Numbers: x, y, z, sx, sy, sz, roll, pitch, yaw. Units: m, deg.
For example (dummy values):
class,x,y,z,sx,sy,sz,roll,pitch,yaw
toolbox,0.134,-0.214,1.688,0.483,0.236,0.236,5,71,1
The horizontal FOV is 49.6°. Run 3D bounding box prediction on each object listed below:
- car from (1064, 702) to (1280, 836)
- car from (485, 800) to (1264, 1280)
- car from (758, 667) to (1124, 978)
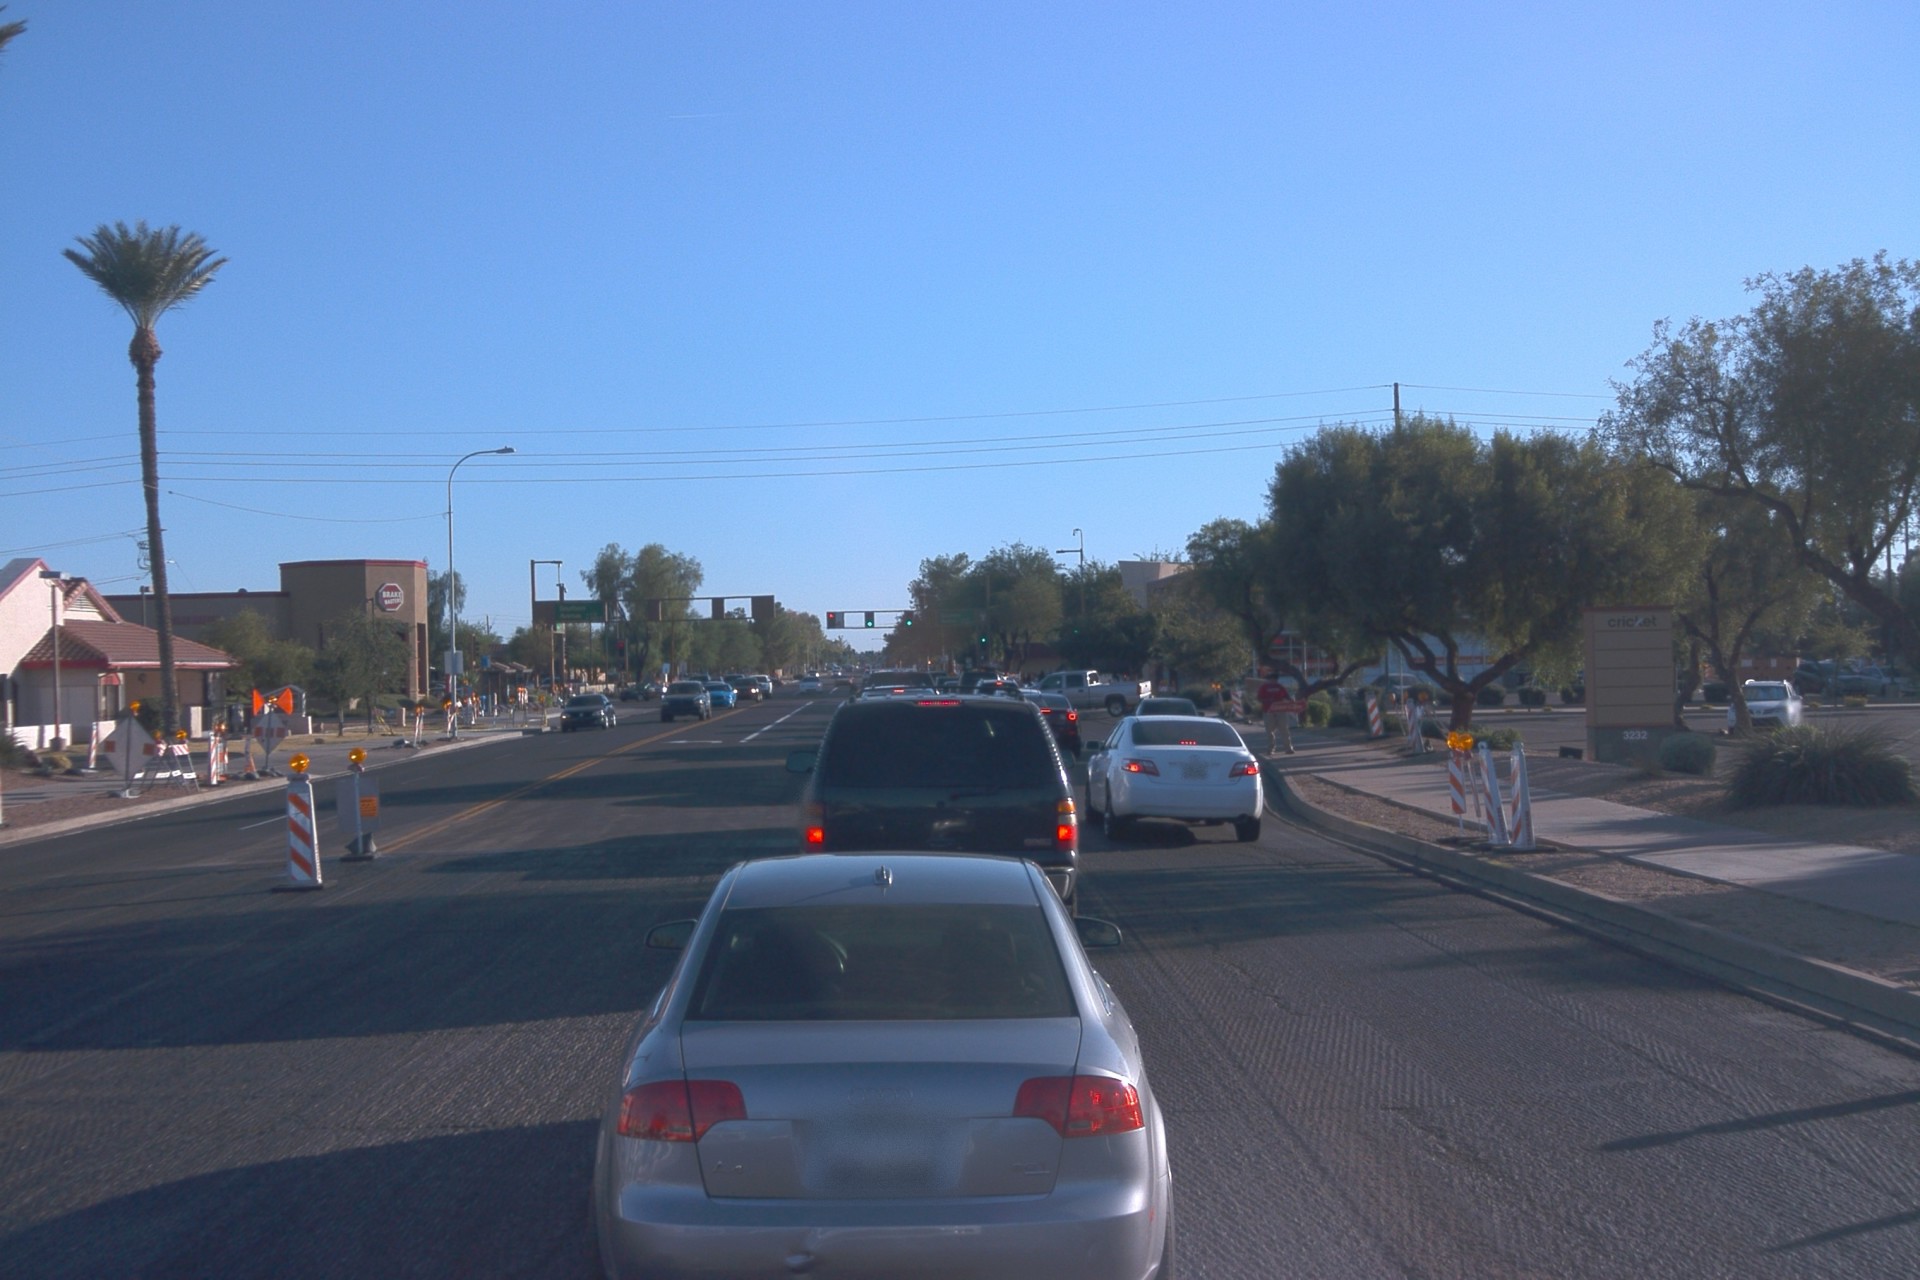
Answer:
class,x,y,z,sx,sy,sz,roll,pitch,yaw
car,2.553,1.554,26.197,2.124,1.470,4.694,0,-1,-1
car,-0.274,1.466,7.638,2.033,1.480,4.403,0,-1,-1
car,-0.215,1.240,16.211,2.405,2.040,5.063,0,-1,-2
